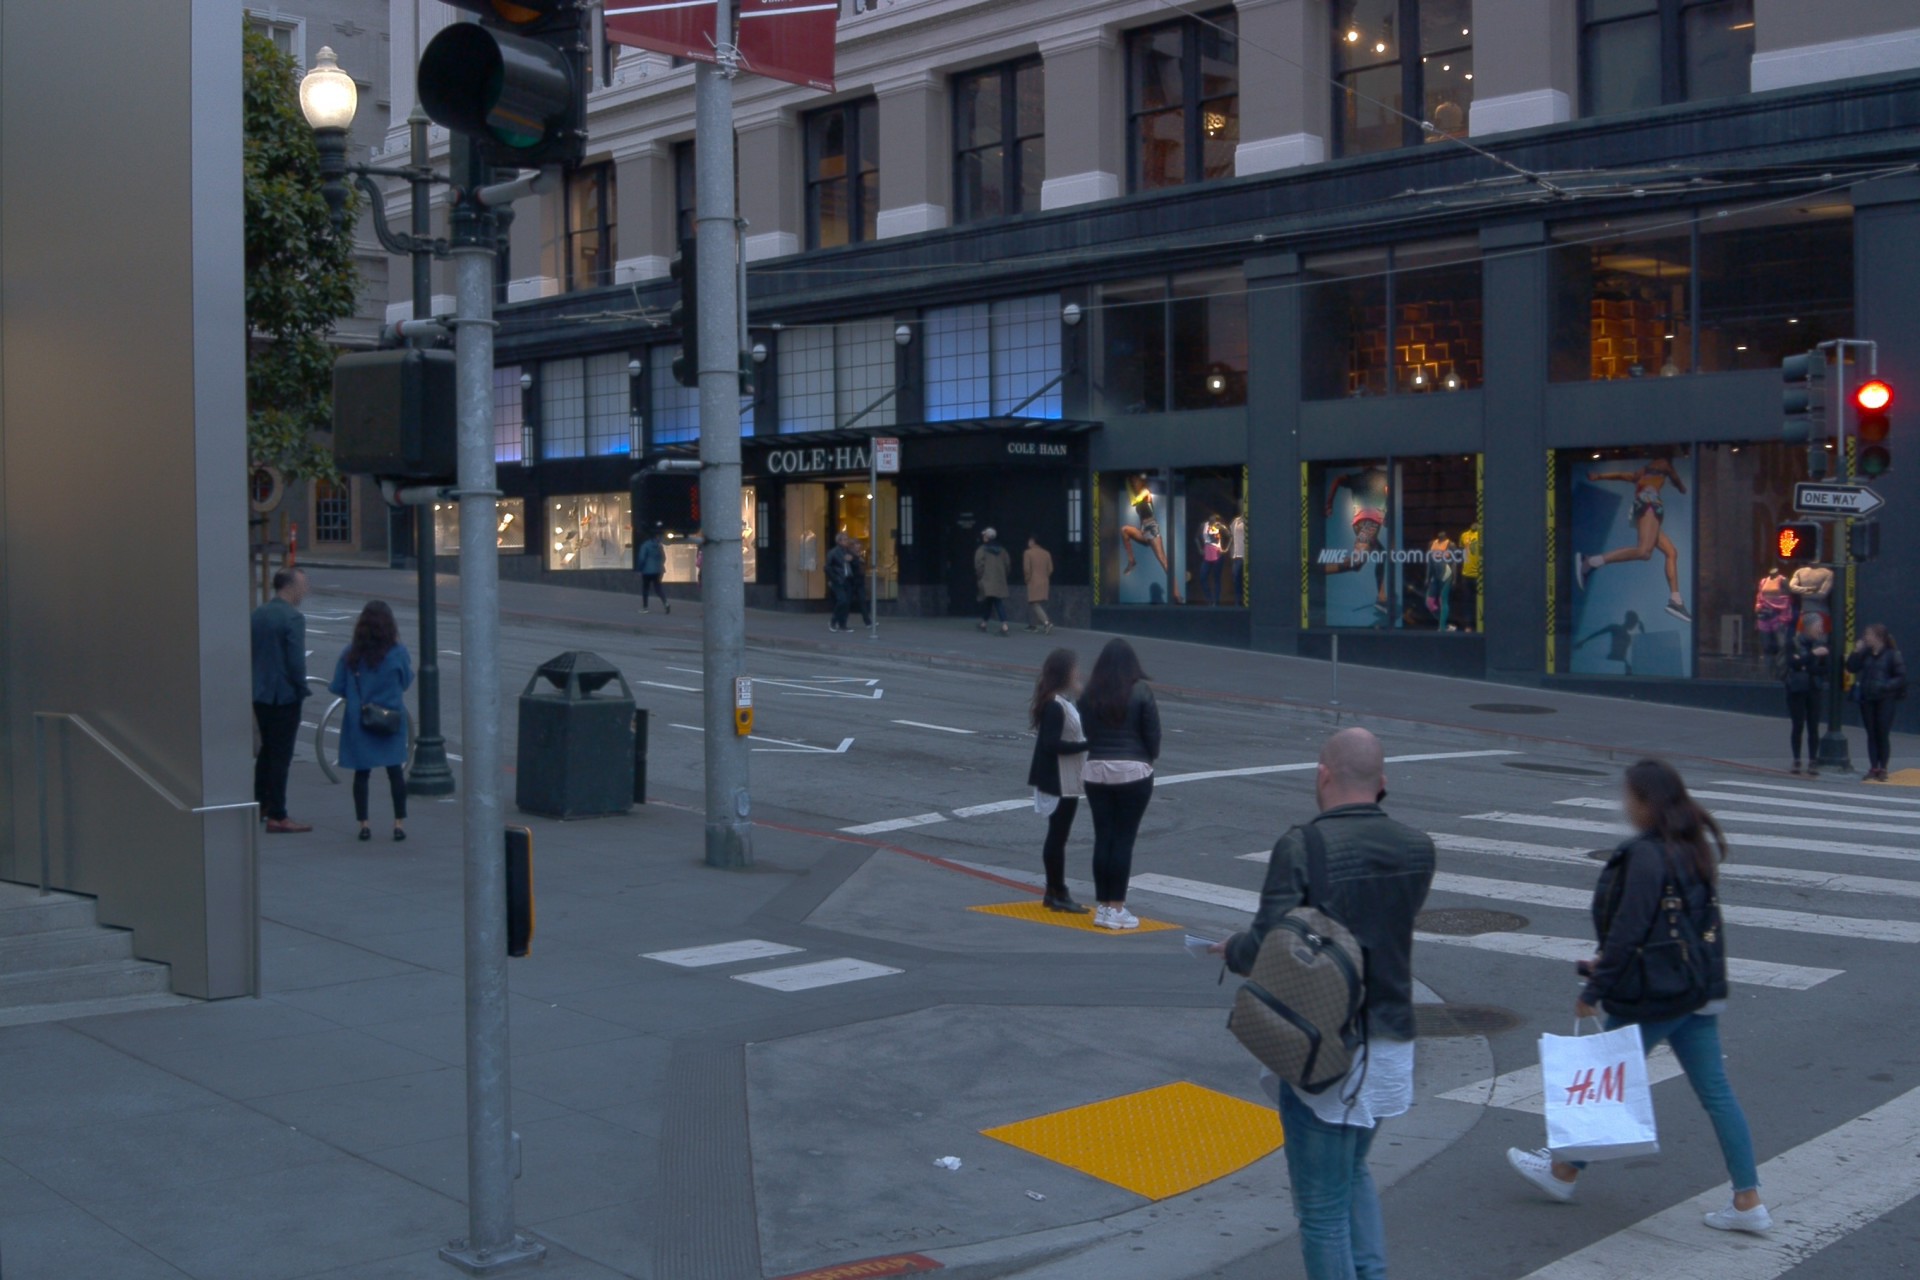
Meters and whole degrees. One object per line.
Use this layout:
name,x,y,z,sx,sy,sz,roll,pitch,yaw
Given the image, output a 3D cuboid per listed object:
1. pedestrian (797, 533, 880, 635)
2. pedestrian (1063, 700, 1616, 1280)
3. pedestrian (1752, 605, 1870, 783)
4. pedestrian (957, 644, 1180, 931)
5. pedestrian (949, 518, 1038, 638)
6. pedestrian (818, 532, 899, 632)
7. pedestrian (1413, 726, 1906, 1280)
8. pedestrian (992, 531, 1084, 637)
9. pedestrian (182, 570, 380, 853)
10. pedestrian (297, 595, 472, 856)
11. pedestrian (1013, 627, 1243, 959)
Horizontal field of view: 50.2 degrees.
pedestrian,-2.013,-0.918,33.892,1.047,1.650,0.891,1,1,44
pedestrian,0.962,1.100,5.405,0.930,1.820,1.123,0,1,-28
pedestrian,8.945,0.539,21.527,0.895,1.800,1.088,1,1,36
pedestrian,0.689,0.891,13.073,1.003,1.710,0.997,0,1,-40
pedestrian,0.544,-1.002,33.595,0.963,1.920,1.104,0,1,-40
pedestrian,-1.708,-0.969,34.480,1.047,1.650,0.891,1,1,43
pedestrian,2.289,1.145,6.707,1.174,1.640,1.097,-1,1,-44
pedestrian,1.289,-0.915,33.848,1.053,1.700,1.109,0,1,-39
pedestrian,-4.902,0.484,14.813,0.981,1.960,0.939,1,1,28
pedestrian,-4.030,0.562,14.345,0.951,1.750,0.801,0,1,-37
pedestrian,1.011,0.869,12.354,1.113,1.890,0.813,0,1,-33
